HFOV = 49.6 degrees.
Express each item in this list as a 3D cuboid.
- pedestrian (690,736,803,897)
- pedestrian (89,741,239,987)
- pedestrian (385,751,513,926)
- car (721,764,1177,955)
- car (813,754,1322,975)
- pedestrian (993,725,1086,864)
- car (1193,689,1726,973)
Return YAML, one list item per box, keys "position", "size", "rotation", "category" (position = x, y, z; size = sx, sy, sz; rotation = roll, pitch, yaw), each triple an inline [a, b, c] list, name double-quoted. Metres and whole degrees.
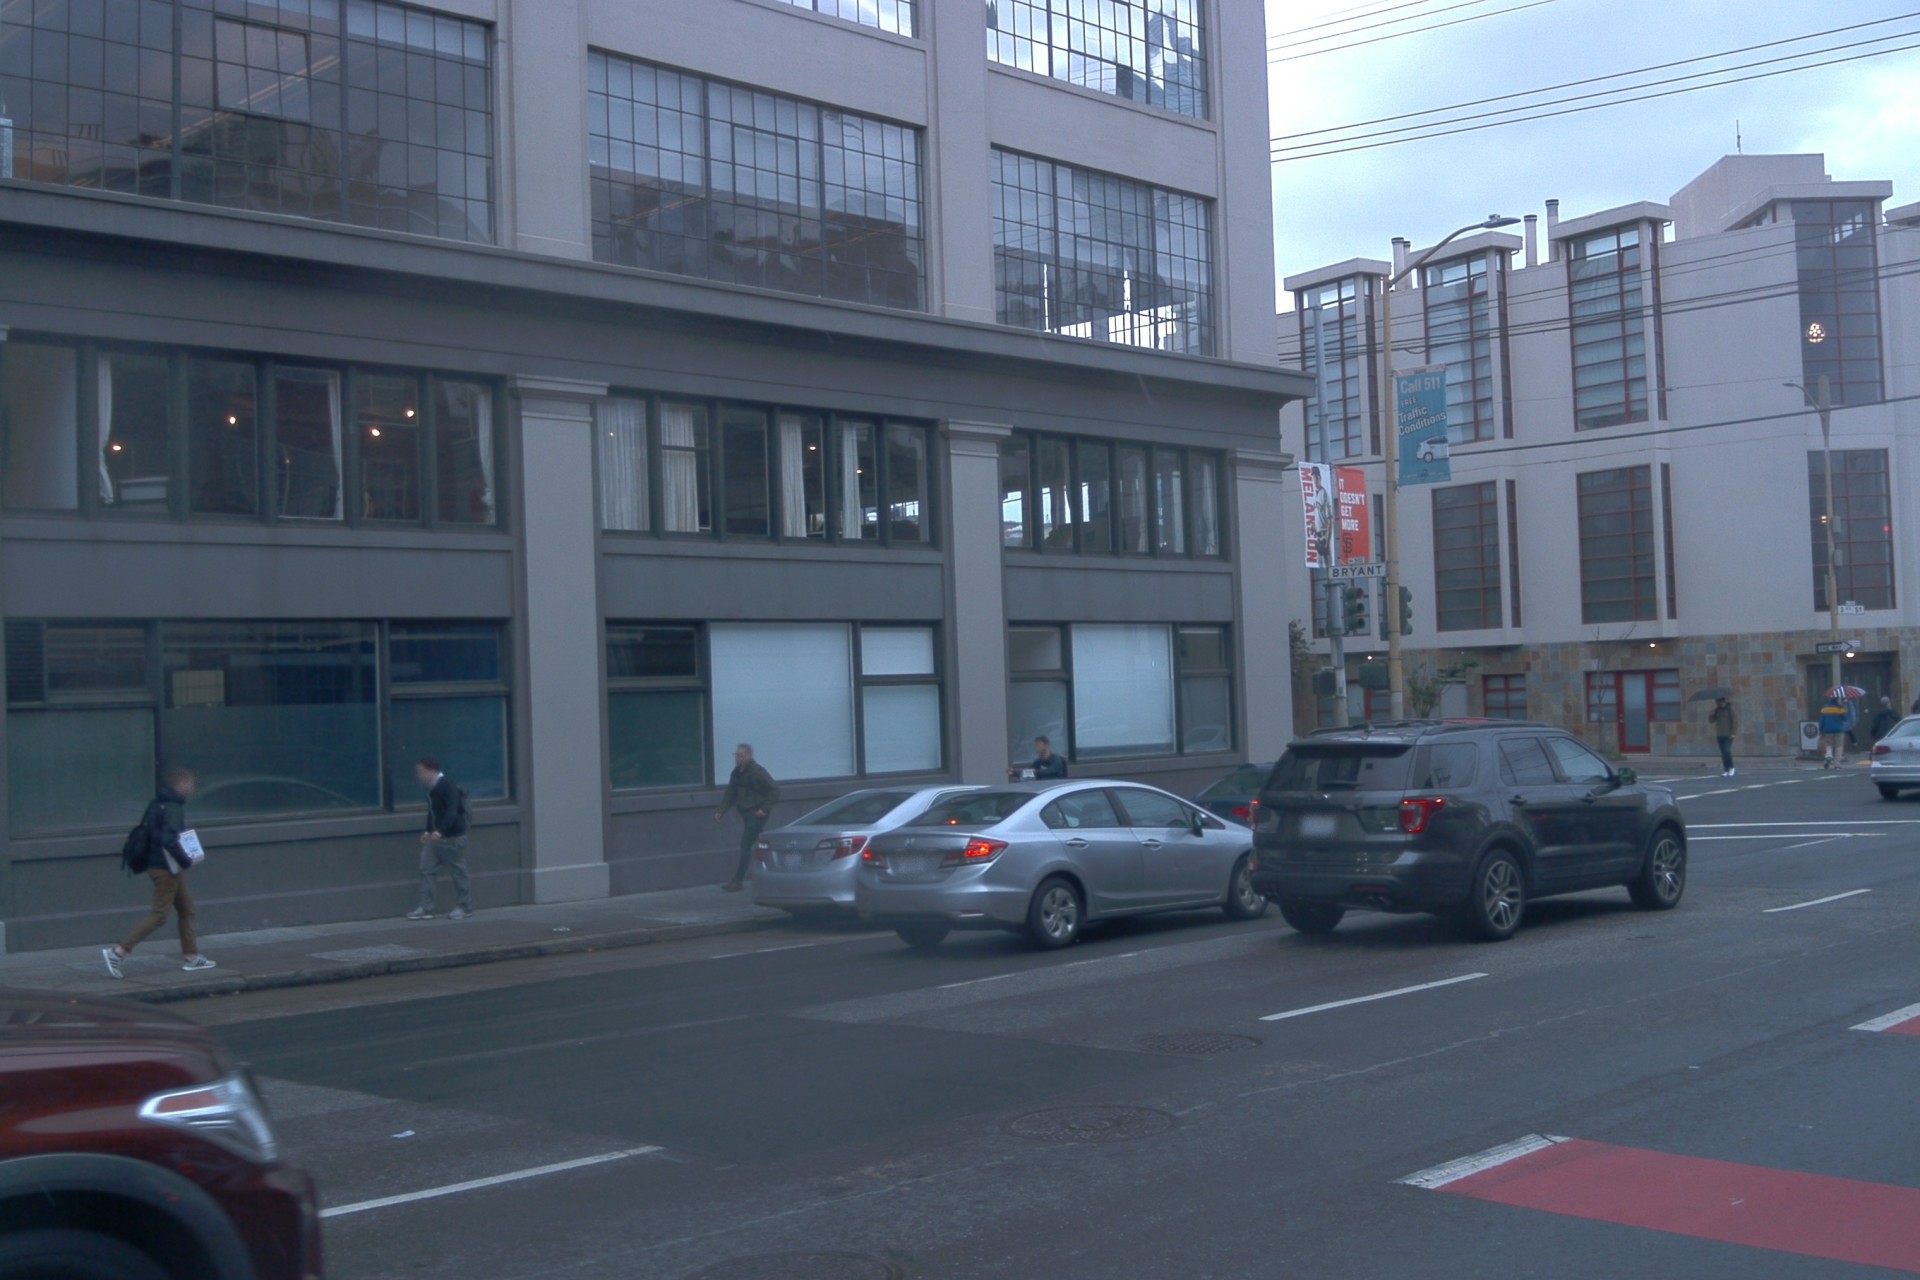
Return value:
- position: [-2.542, 2.077, 24.767]
  size: [0.851, 1.800, 1.024]
  rotation: [0, 0, 43]
  category: "pedestrian"
- position: [-6.906, 1.906, 18.043]
  size: [0.967, 1.990, 0.909]
  rotation: [0, 0, -41]
  category: "pedestrian"
- position: [-5.444, 2.087, 22.167]
  size: [0.838, 1.740, 1.041]
  rotation: [0, 0, 44]
  category: "pedestrian"
- position: [-0.004, 2.276, 22.669]
  size: [2.014, 1.570, 4.989]
  rotation: [0, 0, 45]
  category: "car"
- position: [1.104, 1.916, 18.962]
  size: [2.025, 1.500, 4.729]
  rotation: [0, 0, 44]
  category: "car"
- position: [1.069, 2.057, 27.909]
  size: [0.826, 1.770, 0.960]
  rotation: [0, 0, 44]
  category: "pedestrian"
- position: [4.509, 1.497, 18.218]
  size: [2.226, 2.020, 5.094]
  rotation: [0, 0, 45]
  category: "car"
